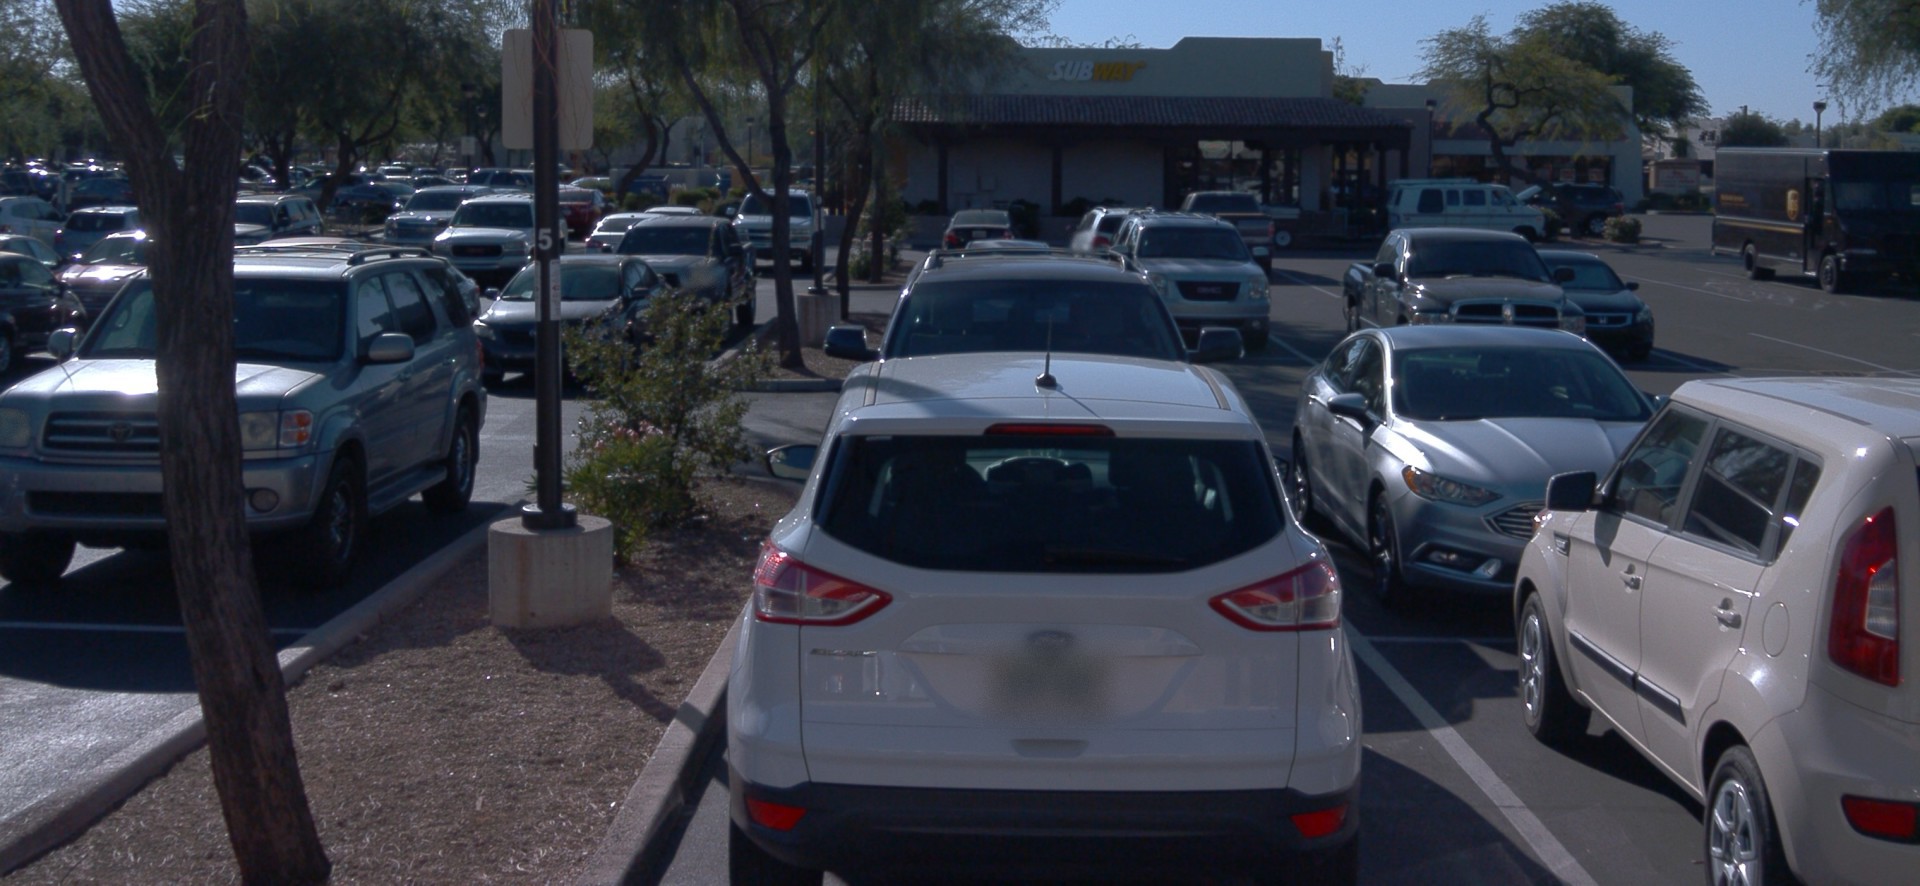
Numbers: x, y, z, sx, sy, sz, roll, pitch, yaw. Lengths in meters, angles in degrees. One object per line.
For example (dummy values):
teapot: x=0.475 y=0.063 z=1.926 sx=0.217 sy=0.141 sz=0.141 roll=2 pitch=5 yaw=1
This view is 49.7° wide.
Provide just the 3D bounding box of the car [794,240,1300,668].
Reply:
car: x=0.406 y=-0.190 z=12.870 sx=2.497 sy=2.061 sz=5.138 roll=1 pitch=5 yaw=-1

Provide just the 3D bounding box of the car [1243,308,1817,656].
car: x=3.209 y=0.045 z=12.860 sx=2.170 sy=1.543 sz=4.761 roll=0 pitch=6 yaw=-1

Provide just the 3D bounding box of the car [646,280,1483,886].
car: x=0.238 y=0.361 z=7.567 sx=2.095 sy=1.752 sz=4.697 roll=1 pitch=5 yaw=-1

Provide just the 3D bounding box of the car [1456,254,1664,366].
car: x=8.974 y=-2.075 z=31.429 sx=1.976 sy=1.493 sz=4.498 roll=1 pitch=6 yaw=2

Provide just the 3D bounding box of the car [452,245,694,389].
car: x=-4.650 y=-1.632 z=25.656 sx=2.083 sy=1.543 sz=4.565 roll=1 pitch=6 yaw=0

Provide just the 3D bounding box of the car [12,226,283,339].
car: x=-12.278 y=-2.520 z=31.737 sx=2.086 sy=1.562 sz=4.913 roll=1 pitch=6 yaw=2

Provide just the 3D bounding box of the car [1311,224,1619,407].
car: x=6.162 y=-1.736 z=26.199 sx=2.523 sy=2.021 sz=5.784 roll=1 pitch=6 yaw=0

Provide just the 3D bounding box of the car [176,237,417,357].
car: x=-9.672 y=-2.223 z=30.649 sx=2.010 sy=1.593 sz=4.474 roll=1 pitch=5 yaw=2

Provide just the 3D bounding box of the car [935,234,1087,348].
car: x=0.737 y=-2.372 z=31.447 sx=2.127 sy=1.553 sz=4.507 roll=1 pitch=6 yaw=0

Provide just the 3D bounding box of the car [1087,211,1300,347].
car: x=3.471 y=-2.600 z=32.011 sx=2.482 sy=1.891 sz=5.237 roll=0 pitch=5 yaw=-3

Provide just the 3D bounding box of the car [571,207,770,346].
car: x=-4.284 y=-2.606 z=31.607 sx=2.086 sy=1.901 sz=5.342 roll=1 pitch=5 yaw=2
